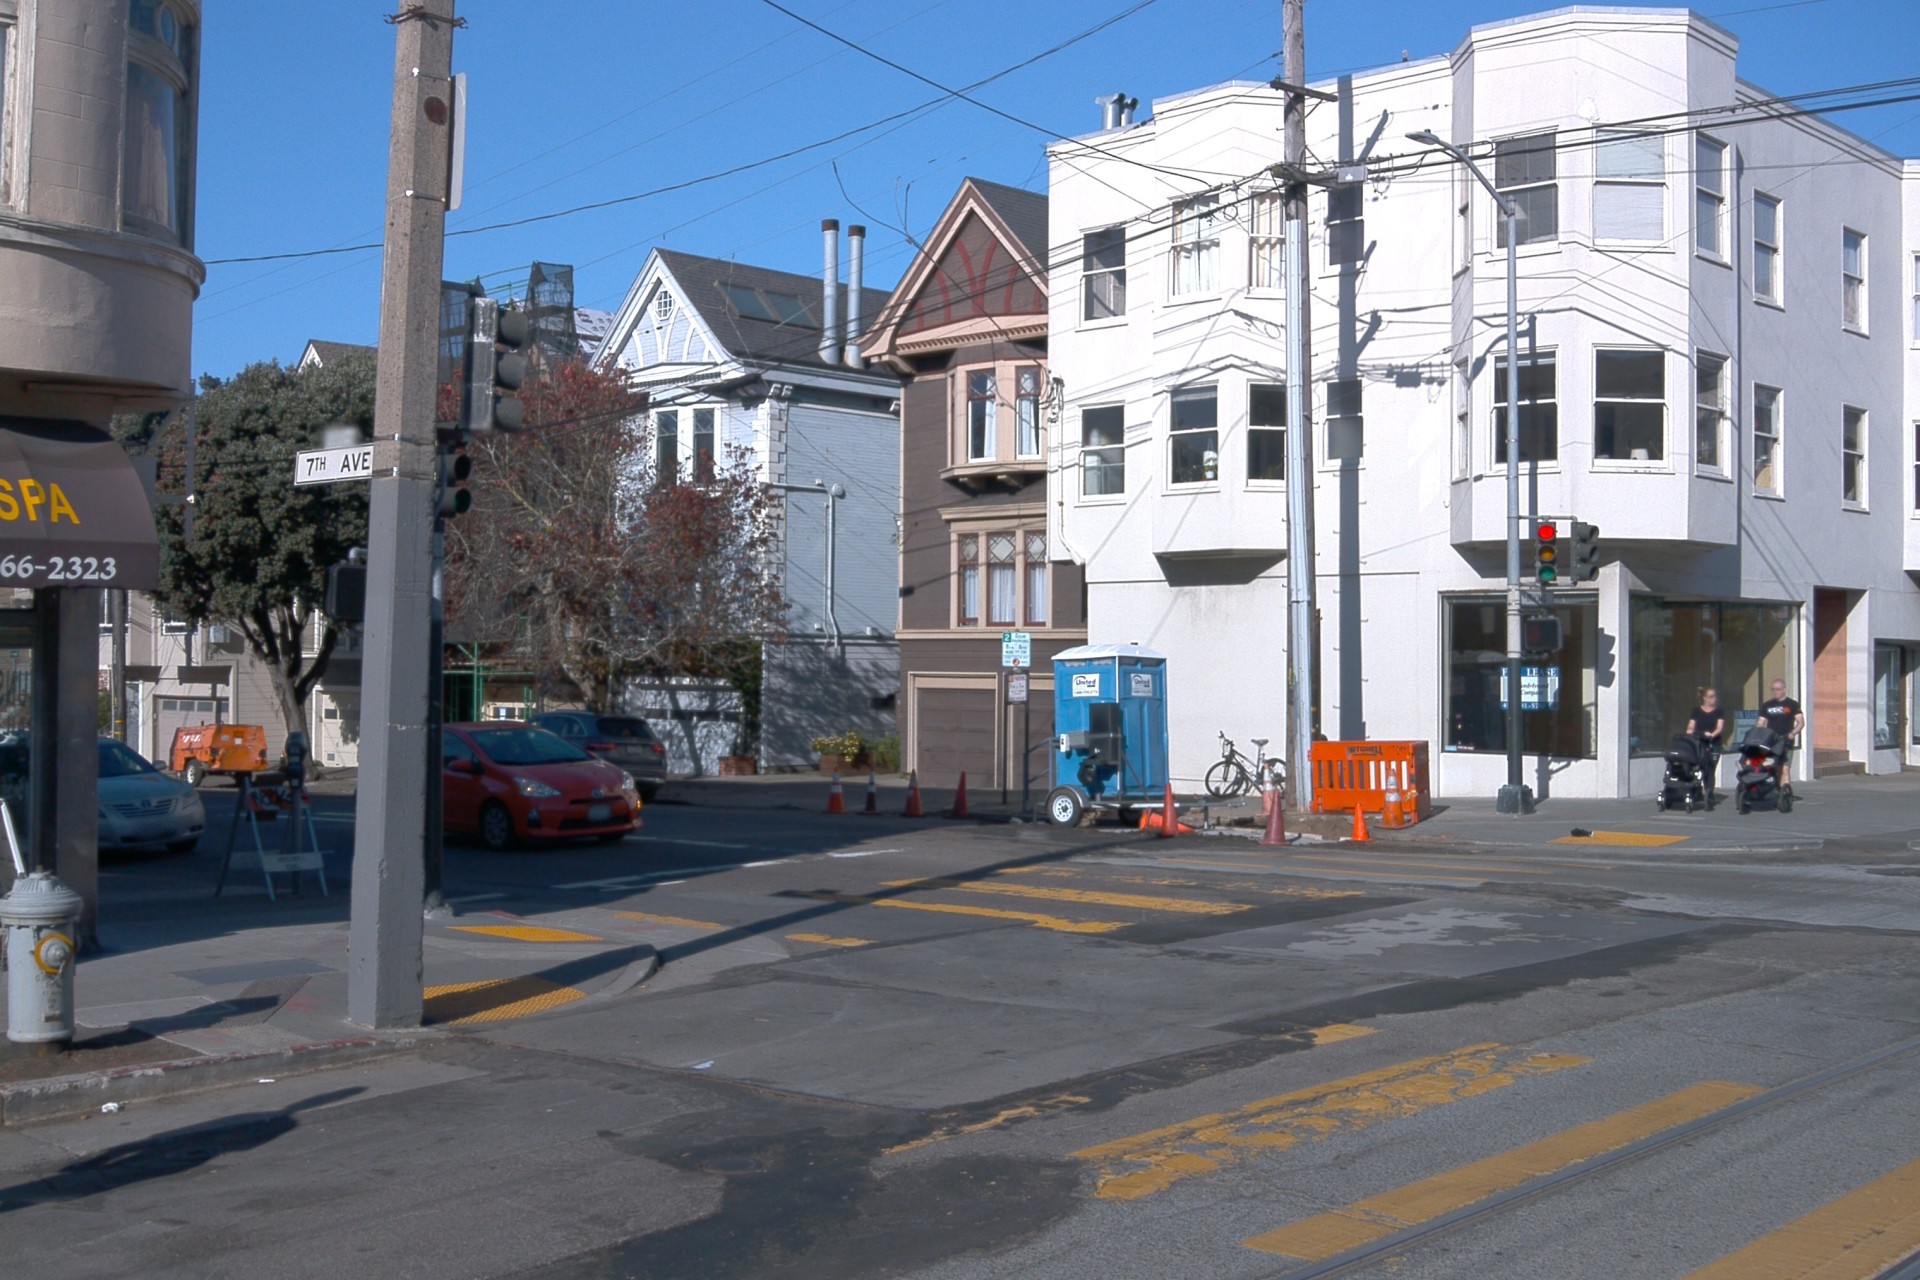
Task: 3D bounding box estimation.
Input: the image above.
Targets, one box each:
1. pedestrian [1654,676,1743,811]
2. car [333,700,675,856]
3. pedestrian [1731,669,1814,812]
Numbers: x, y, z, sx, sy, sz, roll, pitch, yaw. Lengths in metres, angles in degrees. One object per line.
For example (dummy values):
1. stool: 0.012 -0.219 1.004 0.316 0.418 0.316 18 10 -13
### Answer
1. pedestrian: 9.818 1.358 27.544 0.832 1.720 1.019 0 0 38
2. car: -5.426 1.544 24.411 4.066 1.560 1.991 0 0 44
3. pedestrian: 10.771 1.311 27.473 0.763 1.820 0.953 0 0 39
